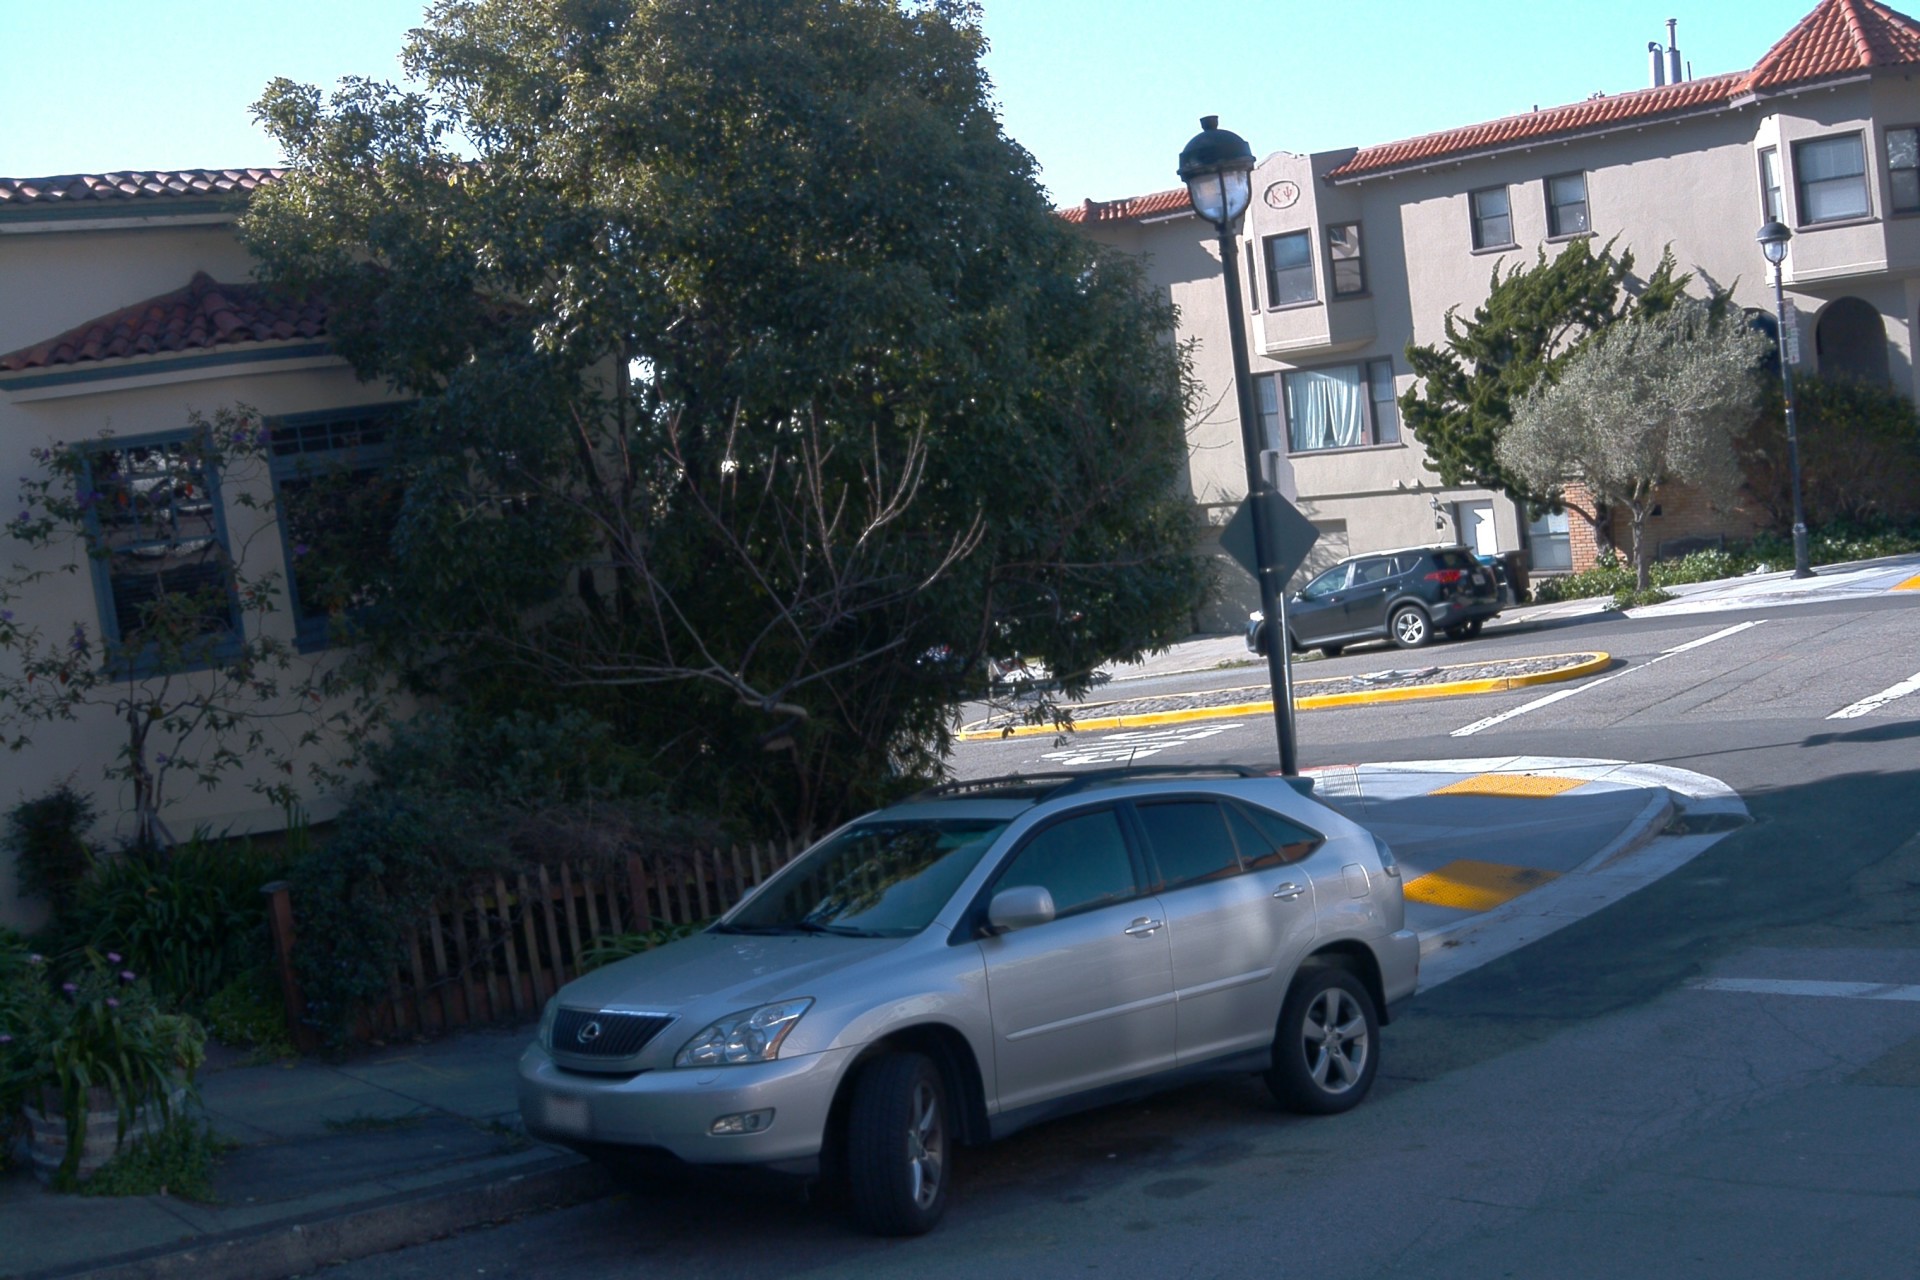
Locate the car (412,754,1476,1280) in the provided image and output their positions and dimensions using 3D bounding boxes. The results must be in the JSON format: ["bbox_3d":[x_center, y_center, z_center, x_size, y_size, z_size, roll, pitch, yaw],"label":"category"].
[{"bbox_3d":[0.132,1.572,9.508,4.666,1.810,2.097,-1,0,-42],"label":"car"}]

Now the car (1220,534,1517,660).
[{"bbox_3d":[6.960,-0.698,35.631,2.204,2.020,4.526,0,0,-45],"label":"car"}]
